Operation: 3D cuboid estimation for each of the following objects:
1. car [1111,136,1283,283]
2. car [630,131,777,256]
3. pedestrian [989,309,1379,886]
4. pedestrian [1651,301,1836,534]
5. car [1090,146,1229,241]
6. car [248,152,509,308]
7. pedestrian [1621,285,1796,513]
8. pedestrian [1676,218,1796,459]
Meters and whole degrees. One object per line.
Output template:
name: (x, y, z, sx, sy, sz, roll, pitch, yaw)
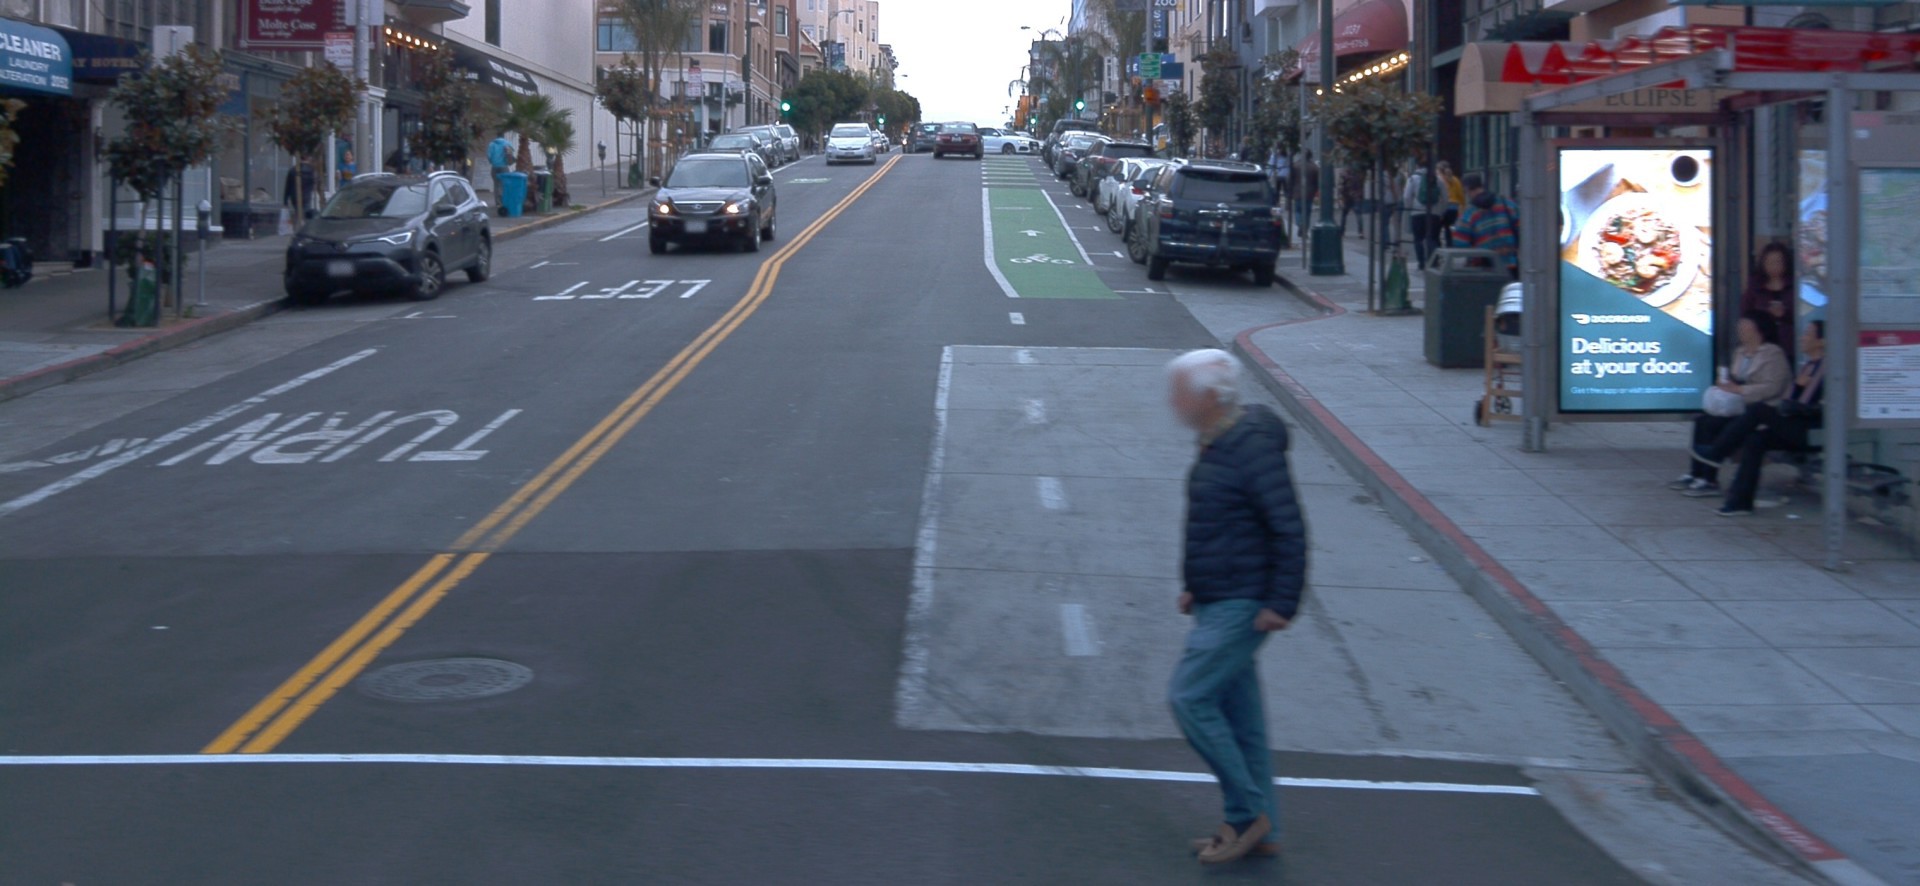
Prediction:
car: (3.532, -3.555, 31.499, 2.179, 2.052, 4.942, 0, 5, 1)
car: (-4.404, -4.321, 35.919, 1.988, 2.042, 4.460, 0, 5, 0)
pedestrian: (0.727, 0.510, 6.968, 1.081, 1.888, 0.896, 0, 2, -12)
pedestrian: (4.851, -0.177, 12.758, 0.909, 1.378, 0.652, 0, 2, 2)
car: (3.760, -4.765, 39.563, 2.141, 1.713, 4.639, 0, 5, -1)
car: (-7.987, -2.977, 28.682, 2.153, 1.992, 4.461, 0, 5, 4)
pedestrian: (4.876, -0.306, 13.426, 0.909, 1.428, 0.652, 0, 2, 2)
pedestrian: (5.519, -0.767, 14.599, 0.627, 1.658, 0.646, 1, 2, 38)
